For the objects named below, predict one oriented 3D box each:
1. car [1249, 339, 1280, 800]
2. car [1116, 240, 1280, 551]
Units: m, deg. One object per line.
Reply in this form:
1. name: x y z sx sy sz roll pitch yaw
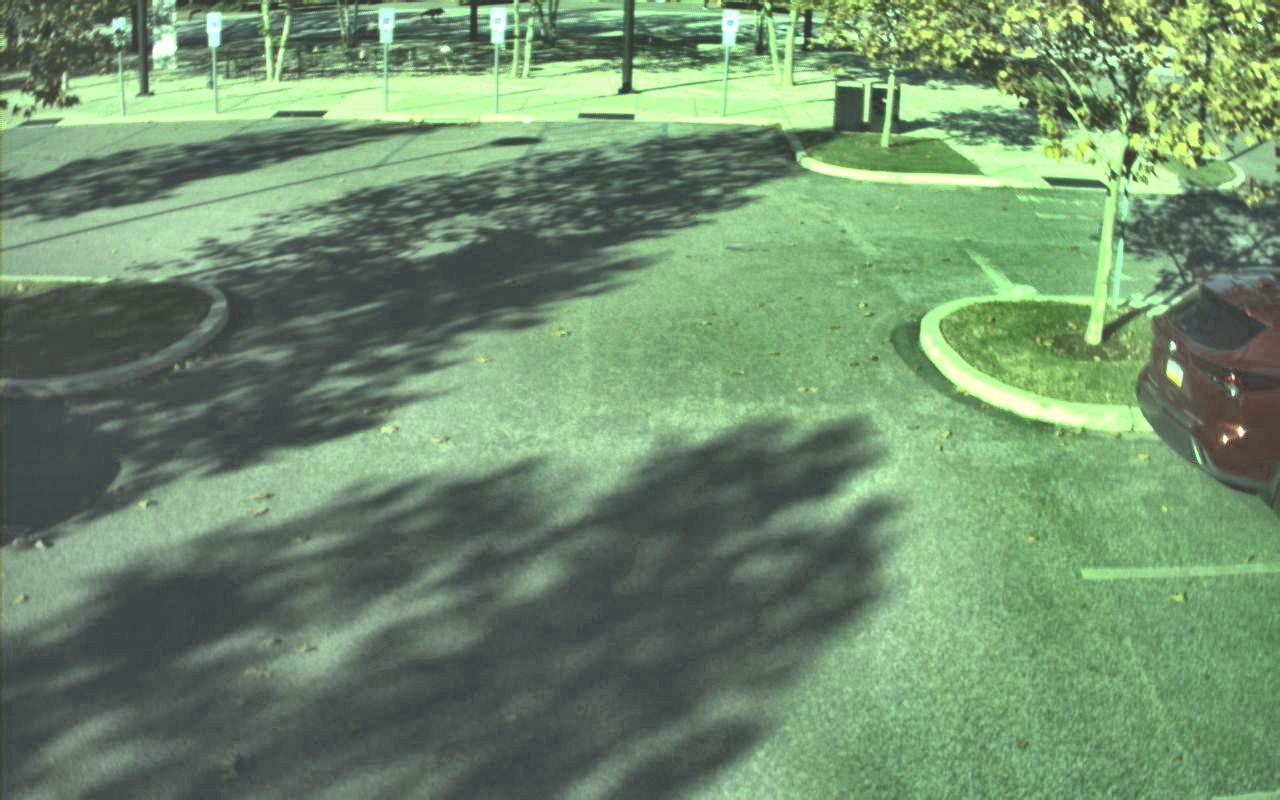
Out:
1. car: 6.175 0.790 6.041 4.504 1.713 2.011 -1 16 0
2. car: 6.178 -0.152 8.655 4.496 1.795 2.012 -2 16 -2
